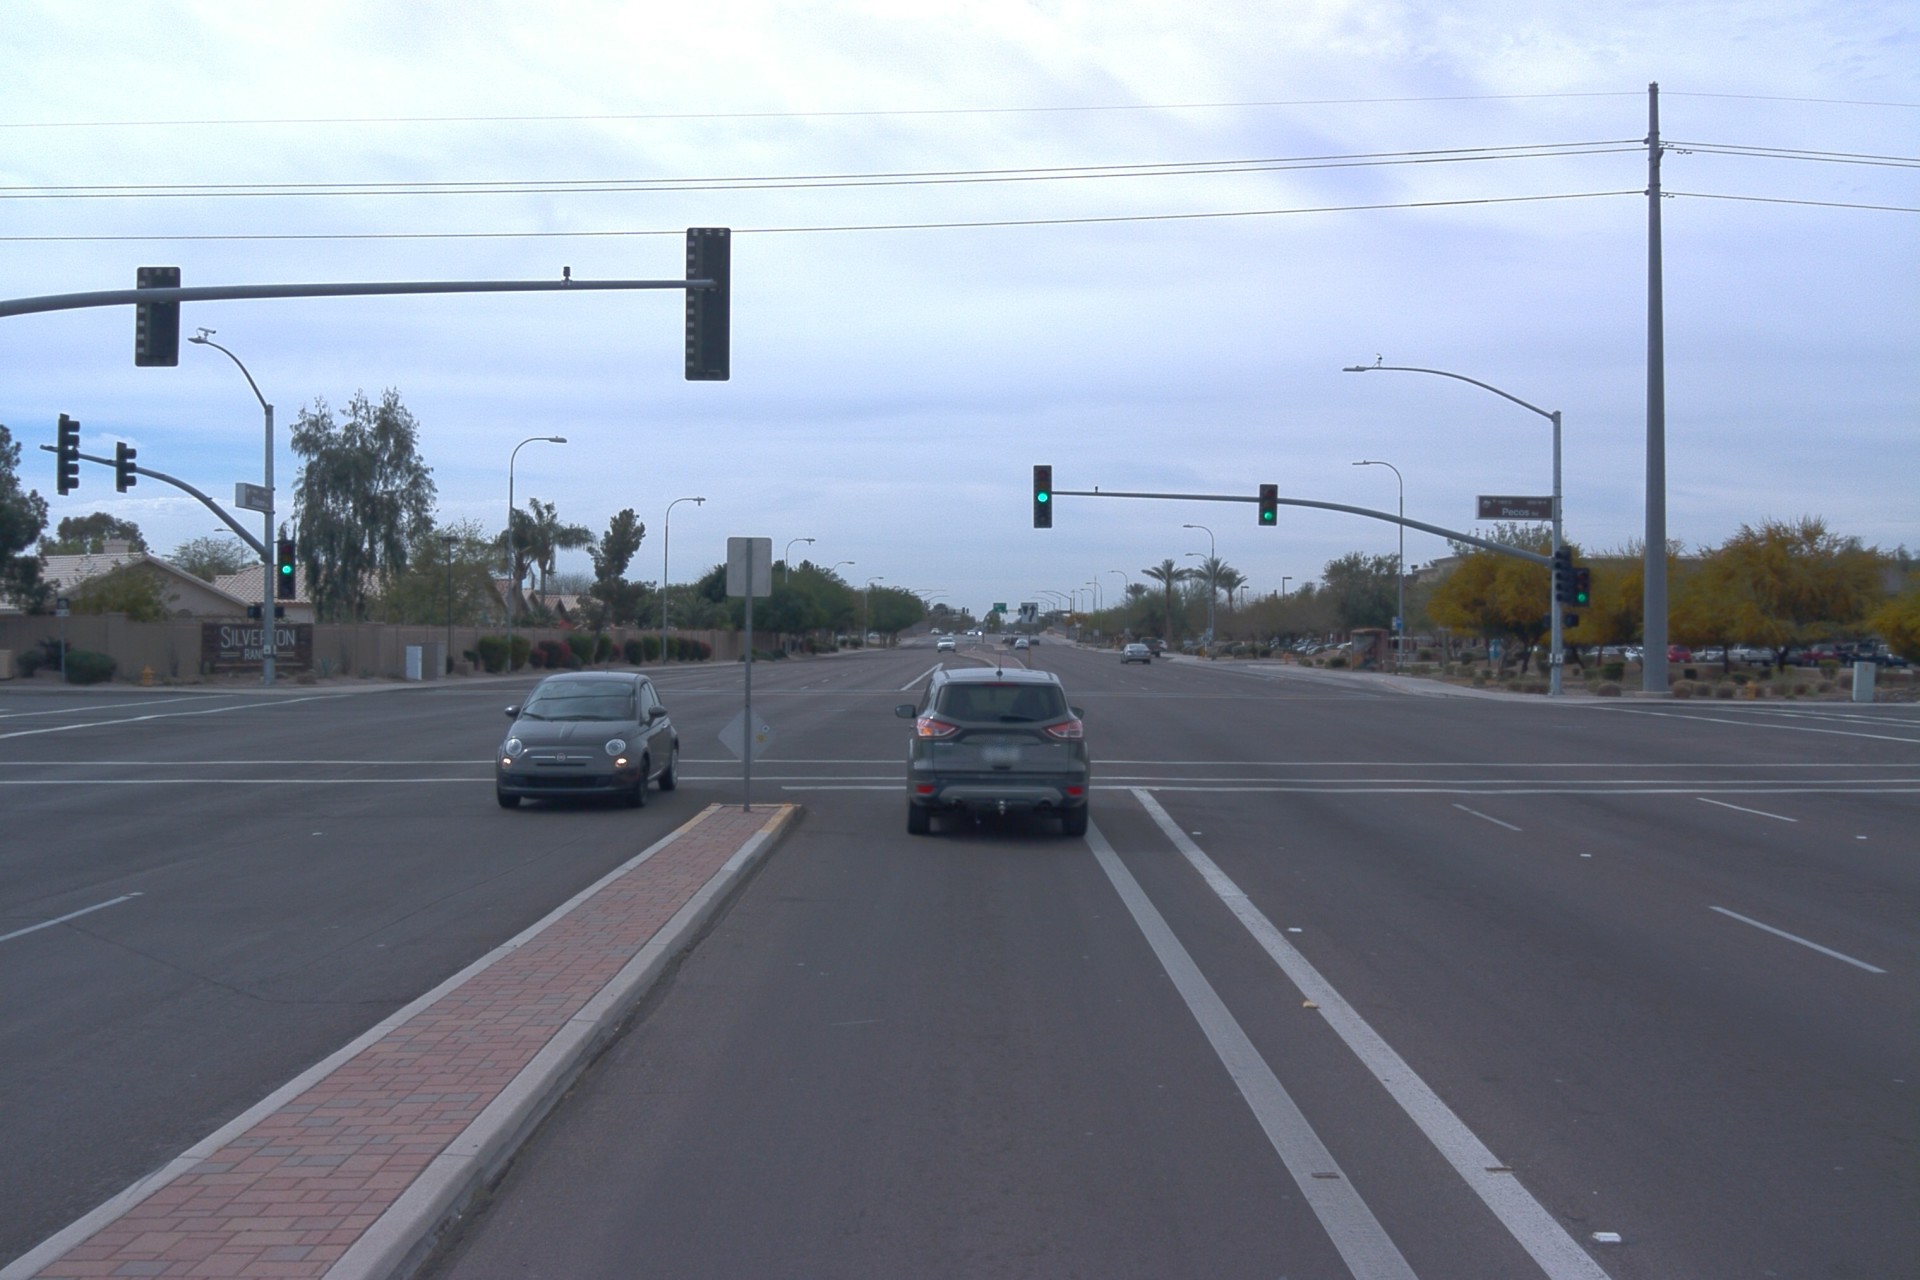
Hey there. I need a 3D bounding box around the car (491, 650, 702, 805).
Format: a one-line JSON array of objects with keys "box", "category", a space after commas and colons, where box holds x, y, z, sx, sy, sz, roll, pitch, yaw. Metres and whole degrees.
[{"box": [-4.286, 0.980, 24.597, 1.829, 1.690, 3.694, 1, 0, 1], "category": "car"}]

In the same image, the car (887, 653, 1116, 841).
[{"box": [0.319, 1.041, 21.785, 2.125, 1.740, 4.601, 1, 0, -3], "category": "car"}]
